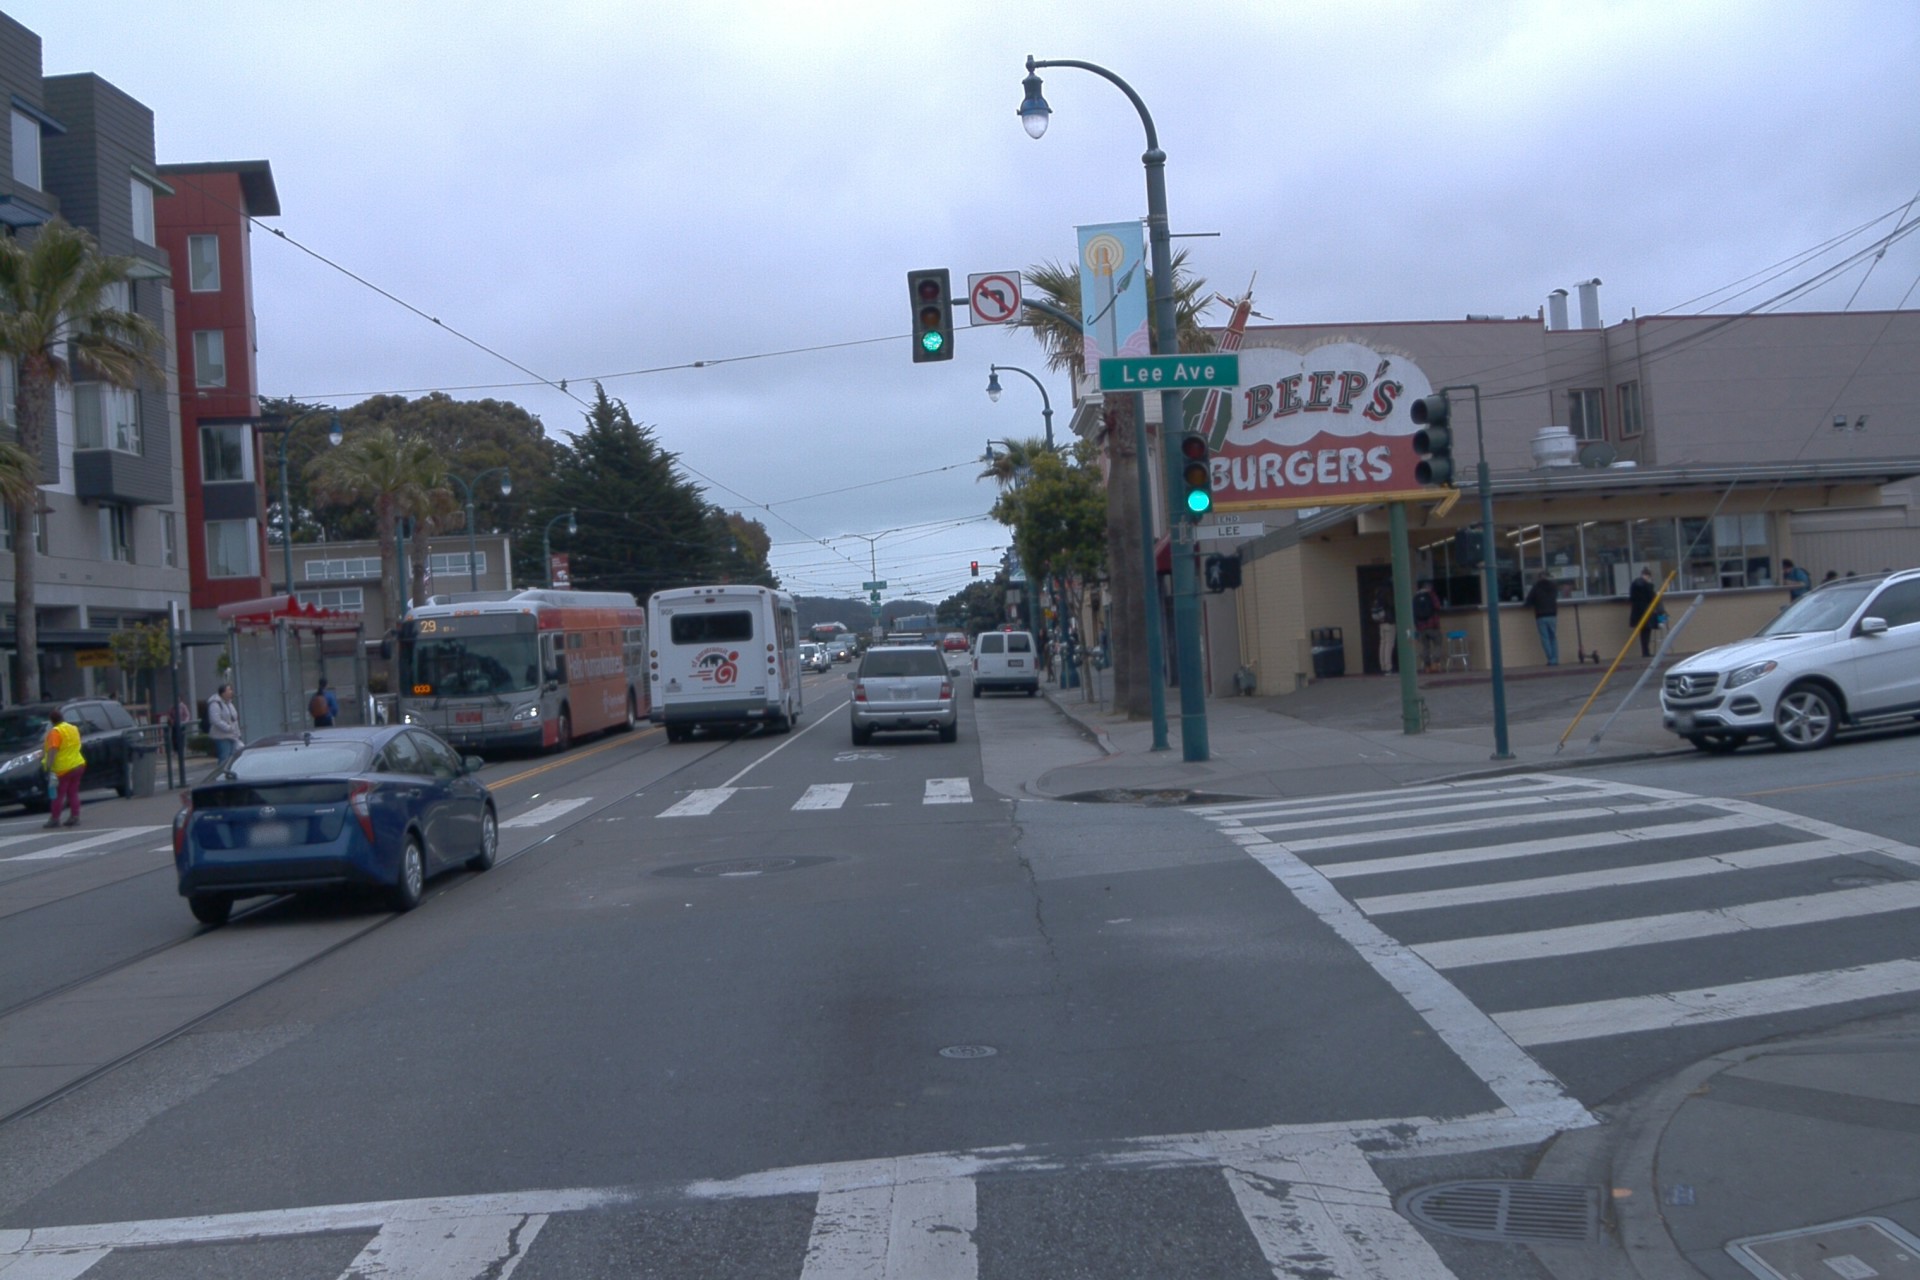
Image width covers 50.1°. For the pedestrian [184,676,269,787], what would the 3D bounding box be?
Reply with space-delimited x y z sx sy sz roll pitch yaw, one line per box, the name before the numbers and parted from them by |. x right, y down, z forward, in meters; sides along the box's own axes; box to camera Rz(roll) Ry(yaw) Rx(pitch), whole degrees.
pedestrian | -11.747 1.445 32.937 0.979 1.700 0.856 0 1 36

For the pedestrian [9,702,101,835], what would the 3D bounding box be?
pedestrian | -12.182 1.709 27.688 0.704 1.700 0.893 0 1 35

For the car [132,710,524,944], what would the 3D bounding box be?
car | -5.197 1.478 17.567 1.971 1.540 4.260 0 1 1

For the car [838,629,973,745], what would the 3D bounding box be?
car | -0.963 0.793 37.264 2.303 1.940 4.181 0 1 -1
